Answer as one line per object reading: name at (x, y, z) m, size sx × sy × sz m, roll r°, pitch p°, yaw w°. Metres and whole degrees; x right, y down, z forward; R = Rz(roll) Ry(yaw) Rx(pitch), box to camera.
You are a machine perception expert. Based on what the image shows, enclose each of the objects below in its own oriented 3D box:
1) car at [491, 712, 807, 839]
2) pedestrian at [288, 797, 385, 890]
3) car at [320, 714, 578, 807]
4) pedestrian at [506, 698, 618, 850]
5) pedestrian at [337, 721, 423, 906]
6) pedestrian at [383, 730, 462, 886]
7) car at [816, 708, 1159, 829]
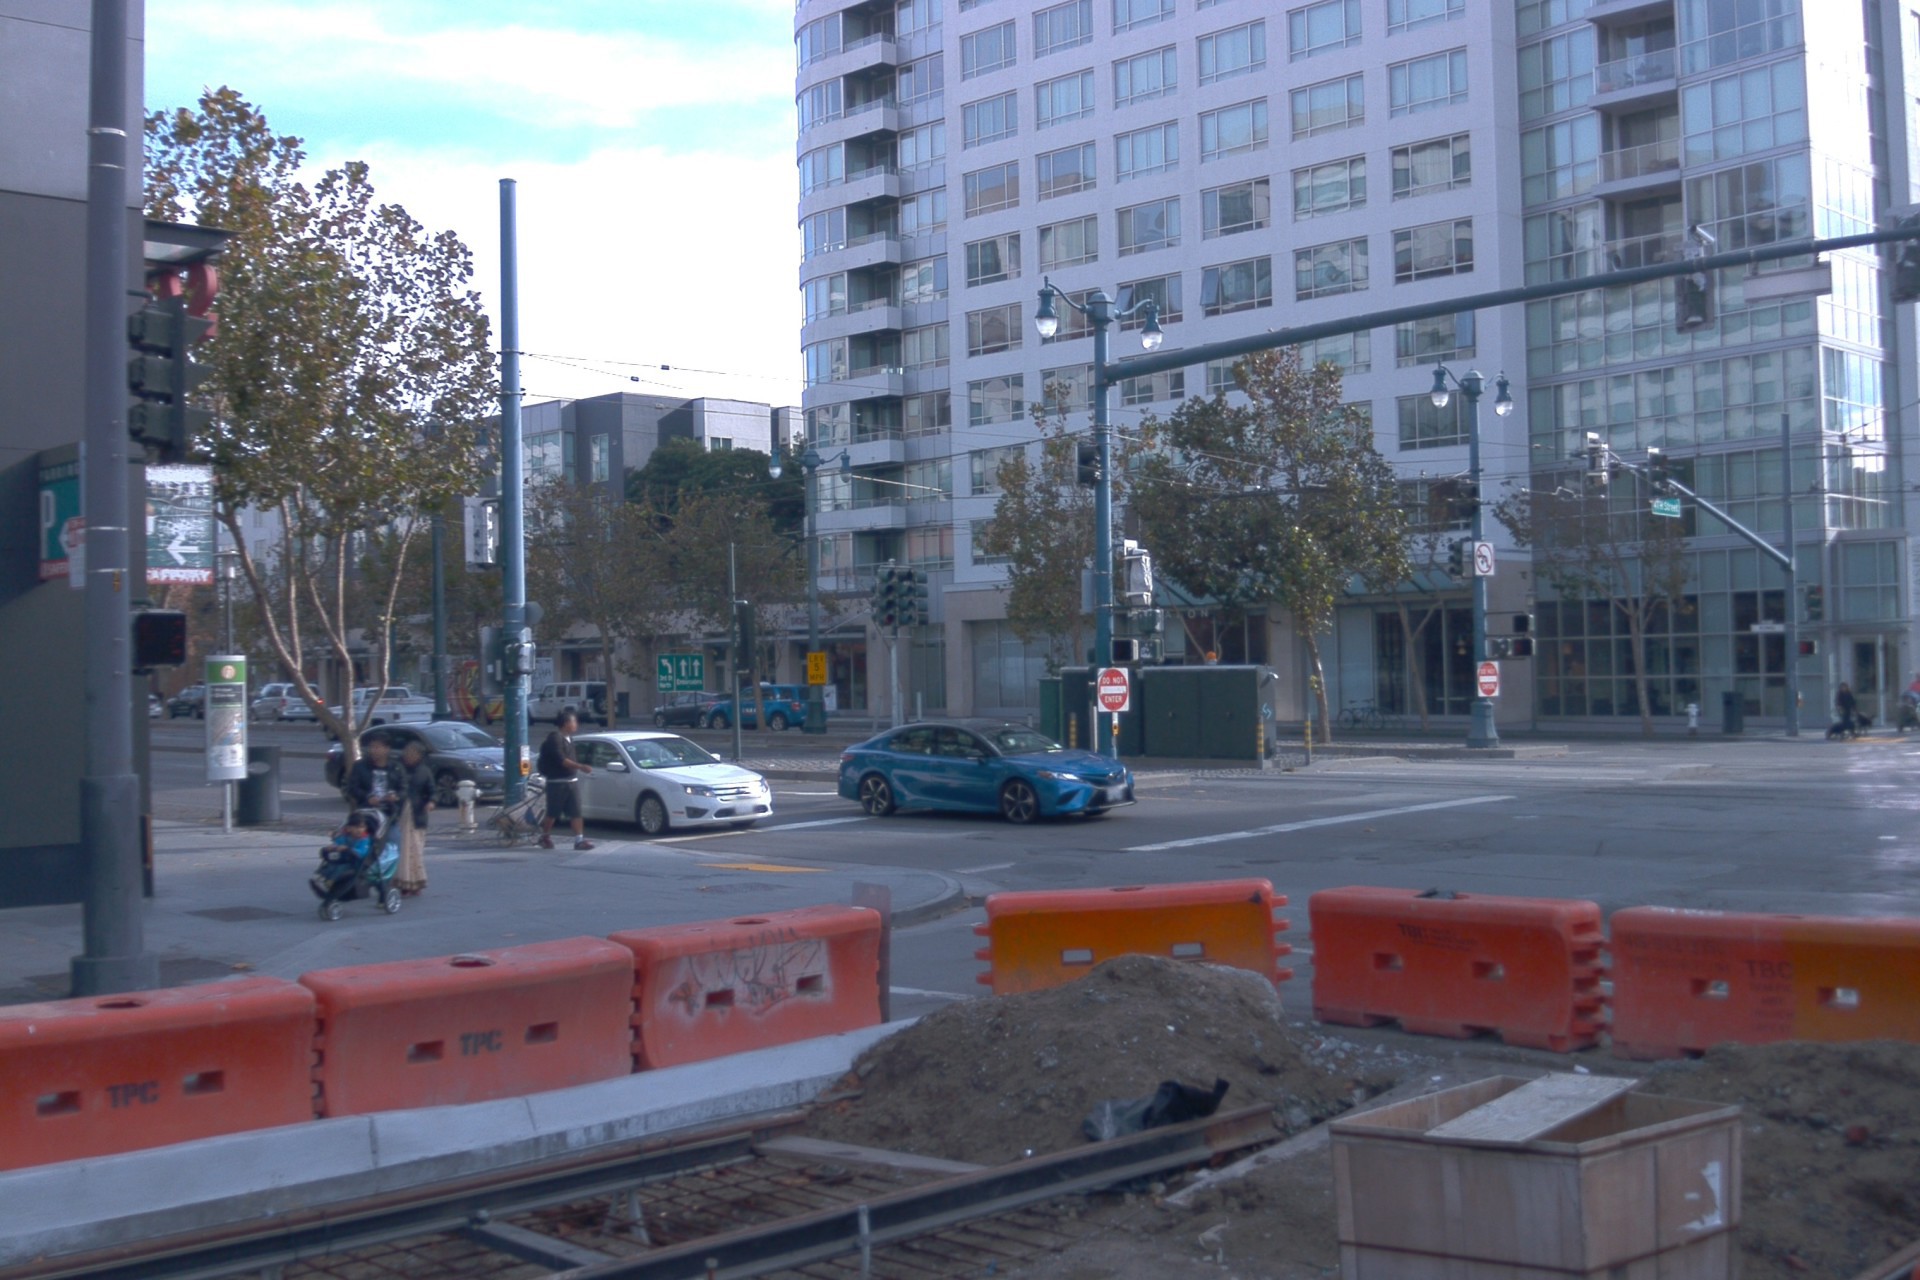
car at (-4.758, 1.970, 31.331) m, size 4.934 × 1.610 × 2.118 m, roll 0°, pitch -1°, yaw 43°
pedestrian at (-5.571, 1.807, 18.582) m, size 0.485 × 0.752 × 0.722 m, roll 0°, pitch -1°, yaw 20°
car at (-9.322, 2.132, 37.713) m, size 4.851 × 1.427 × 2.015 m, roll 0°, pitch -1°, yaw 39°
pedestrian at (-4.994, 1.653, 26.092) m, size 0.942 × 1.830 × 0.981 m, roll 0°, pitch -1°, yaw 38°
pedestrian at (-5.436, 1.604, 19.486) m, size 0.744 × 1.660 × 0.771 m, roll 1°, pitch -1°, yaw -15°
pedestrian at (-5.222, 1.616, 20.212) m, size 0.662 × 1.460 × 0.722 m, roll 0°, pitch -1°, yaw -8°
car at (0.340, 1.855, 31.220) m, size 5.007 × 1.540 × 2.135 m, roll 0°, pitch -1°, yaw 43°
